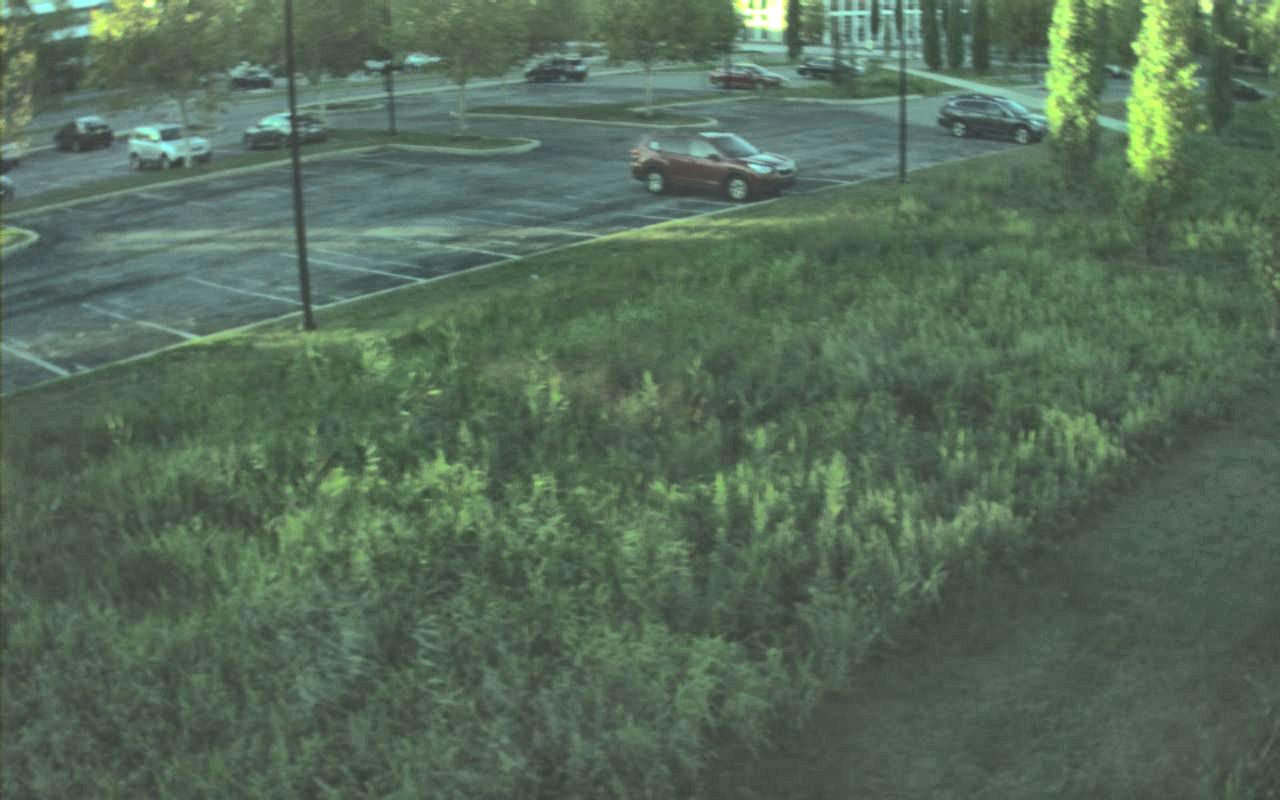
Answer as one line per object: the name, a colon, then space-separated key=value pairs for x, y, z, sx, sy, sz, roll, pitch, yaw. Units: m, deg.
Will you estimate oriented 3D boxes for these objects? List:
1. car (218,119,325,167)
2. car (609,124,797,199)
car: x=-14.804 y=-10.218 z=47.897 sx=4.565 sy=1.668 sz=2.005 roll=11 pitch=19 yaw=35
car: x=1.642 y=-6.411 z=33.284 sx=4.664 sy=1.632 sz=1.999 roll=10 pitch=19 yaw=34
